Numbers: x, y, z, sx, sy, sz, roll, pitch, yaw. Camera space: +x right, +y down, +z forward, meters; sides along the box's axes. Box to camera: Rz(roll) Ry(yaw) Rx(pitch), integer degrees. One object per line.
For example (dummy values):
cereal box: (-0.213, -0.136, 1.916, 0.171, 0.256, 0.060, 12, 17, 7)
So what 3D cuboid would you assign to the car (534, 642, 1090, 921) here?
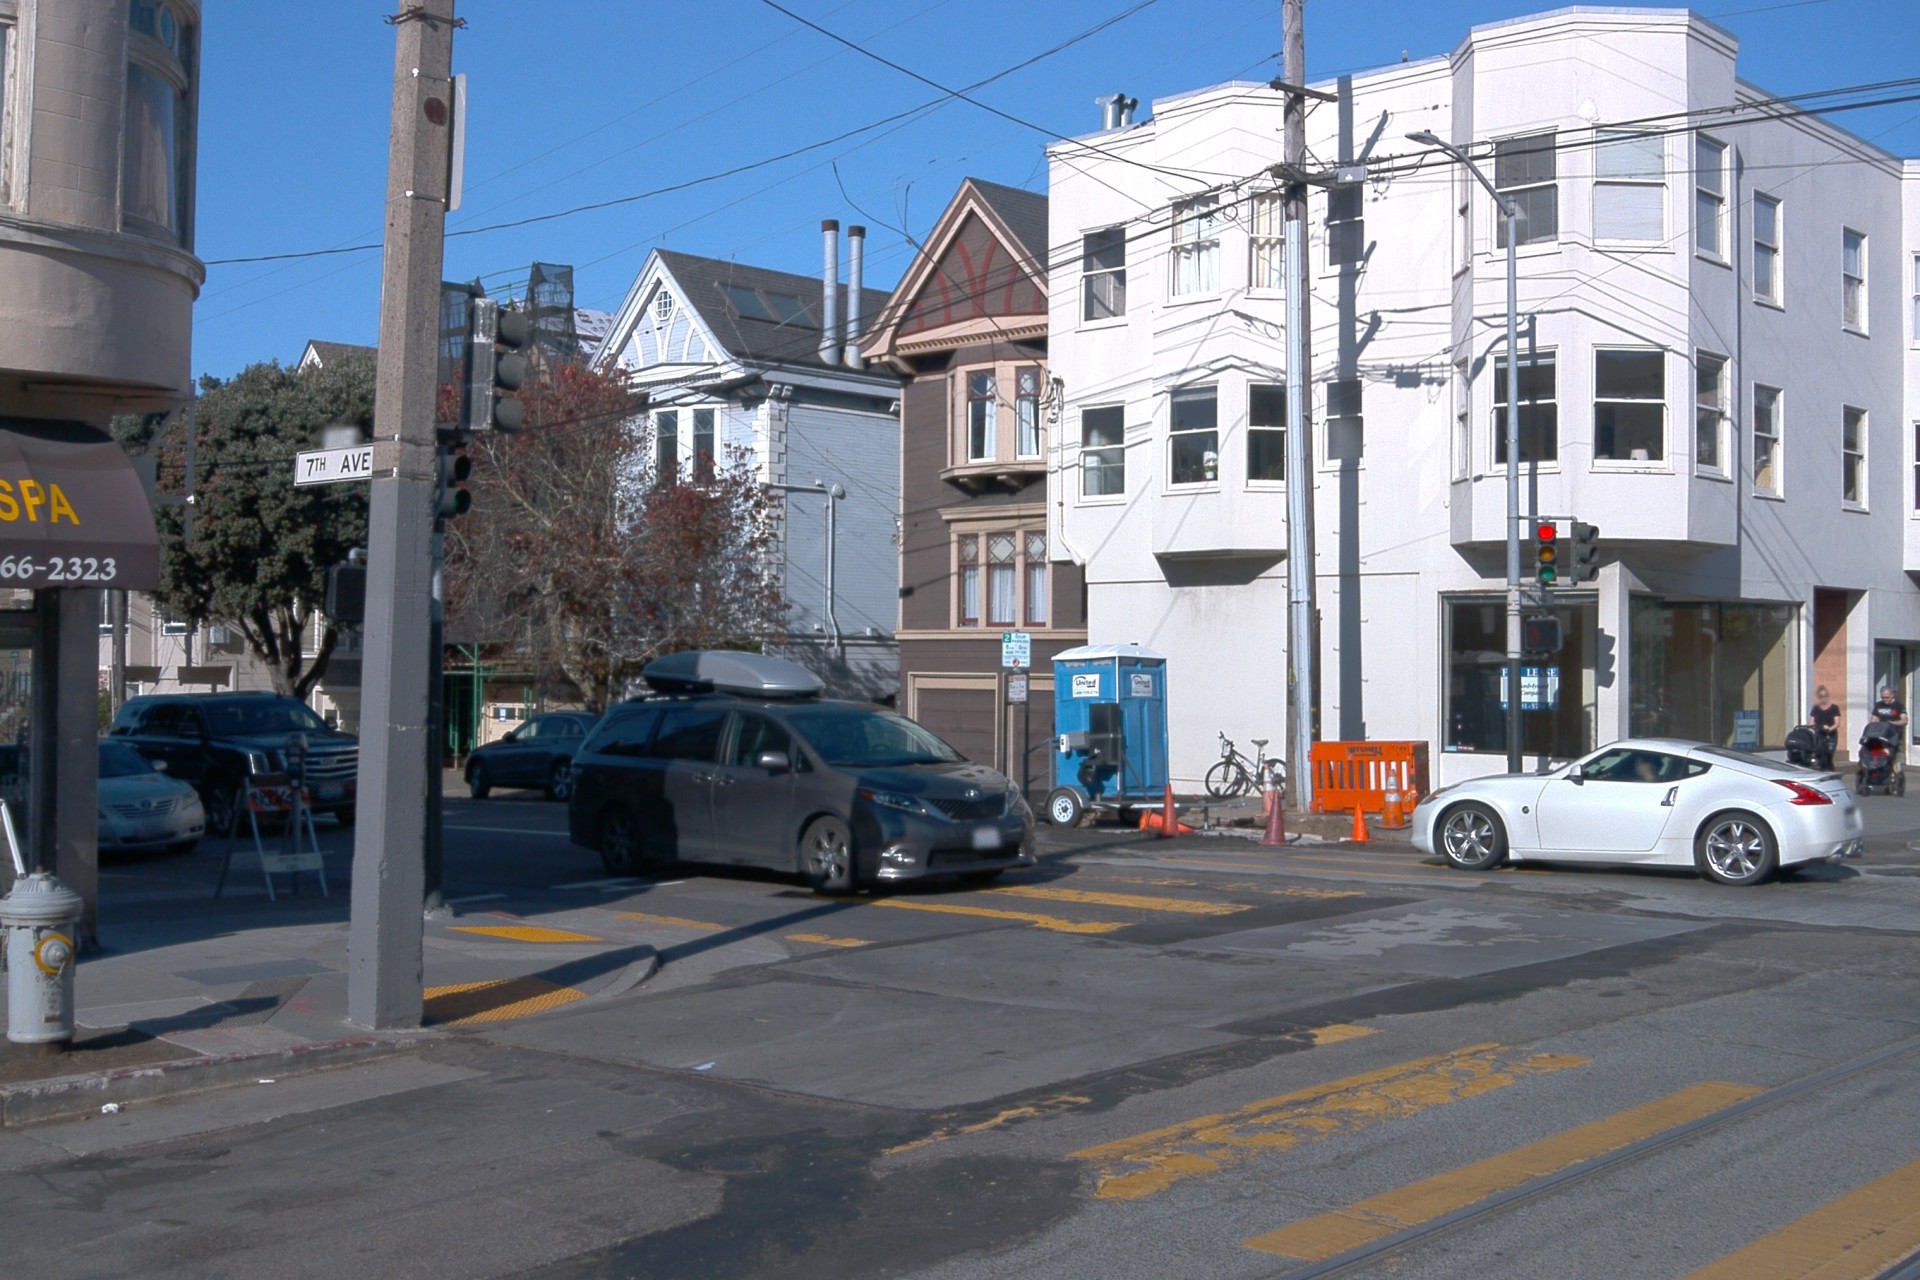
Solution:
car: (-1.540, 1.163, 19.651, 2.419, 2.260, 5.228, 0, 0, -45)

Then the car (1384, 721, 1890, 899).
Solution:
car: (6.519, 1.565, 20.134, 4.243, 1.390, 2.006, 0, 0, 36)

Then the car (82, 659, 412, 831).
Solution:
car: (-9.894, 1.336, 28.521, 2.284, 2.090, 5.186, 0, 0, -44)

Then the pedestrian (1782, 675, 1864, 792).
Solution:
pedestrian: (13.078, 1.398, 31.398, 0.832, 1.720, 1.019, 0, 0, 43)
